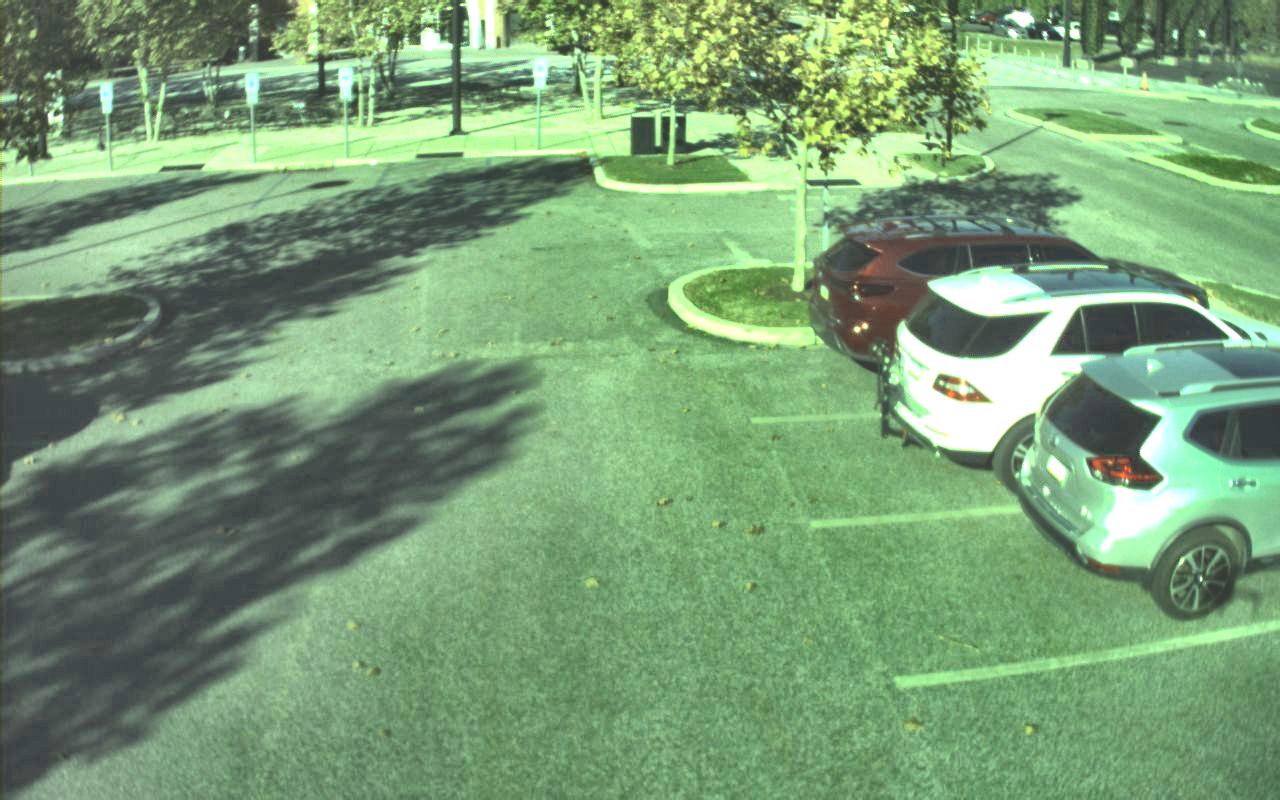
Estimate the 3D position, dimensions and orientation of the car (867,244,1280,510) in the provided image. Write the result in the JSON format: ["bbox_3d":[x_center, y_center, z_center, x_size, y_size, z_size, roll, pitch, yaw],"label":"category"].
[{"bbox_3d":[4.596,-0.369,11.206,4.593,1.787,2.016,-4,16,-8],"label":"car"}]

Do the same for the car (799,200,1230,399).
[{"bbox_3d":[4.294,-1.259,13.896,4.683,1.757,2.014,-3,16,-6],"label":"car"}]

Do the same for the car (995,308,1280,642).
[{"bbox_3d":[5.095,0.417,8.748,4.395,1.721,1.954,-3,16,-6],"label":"car"}]
